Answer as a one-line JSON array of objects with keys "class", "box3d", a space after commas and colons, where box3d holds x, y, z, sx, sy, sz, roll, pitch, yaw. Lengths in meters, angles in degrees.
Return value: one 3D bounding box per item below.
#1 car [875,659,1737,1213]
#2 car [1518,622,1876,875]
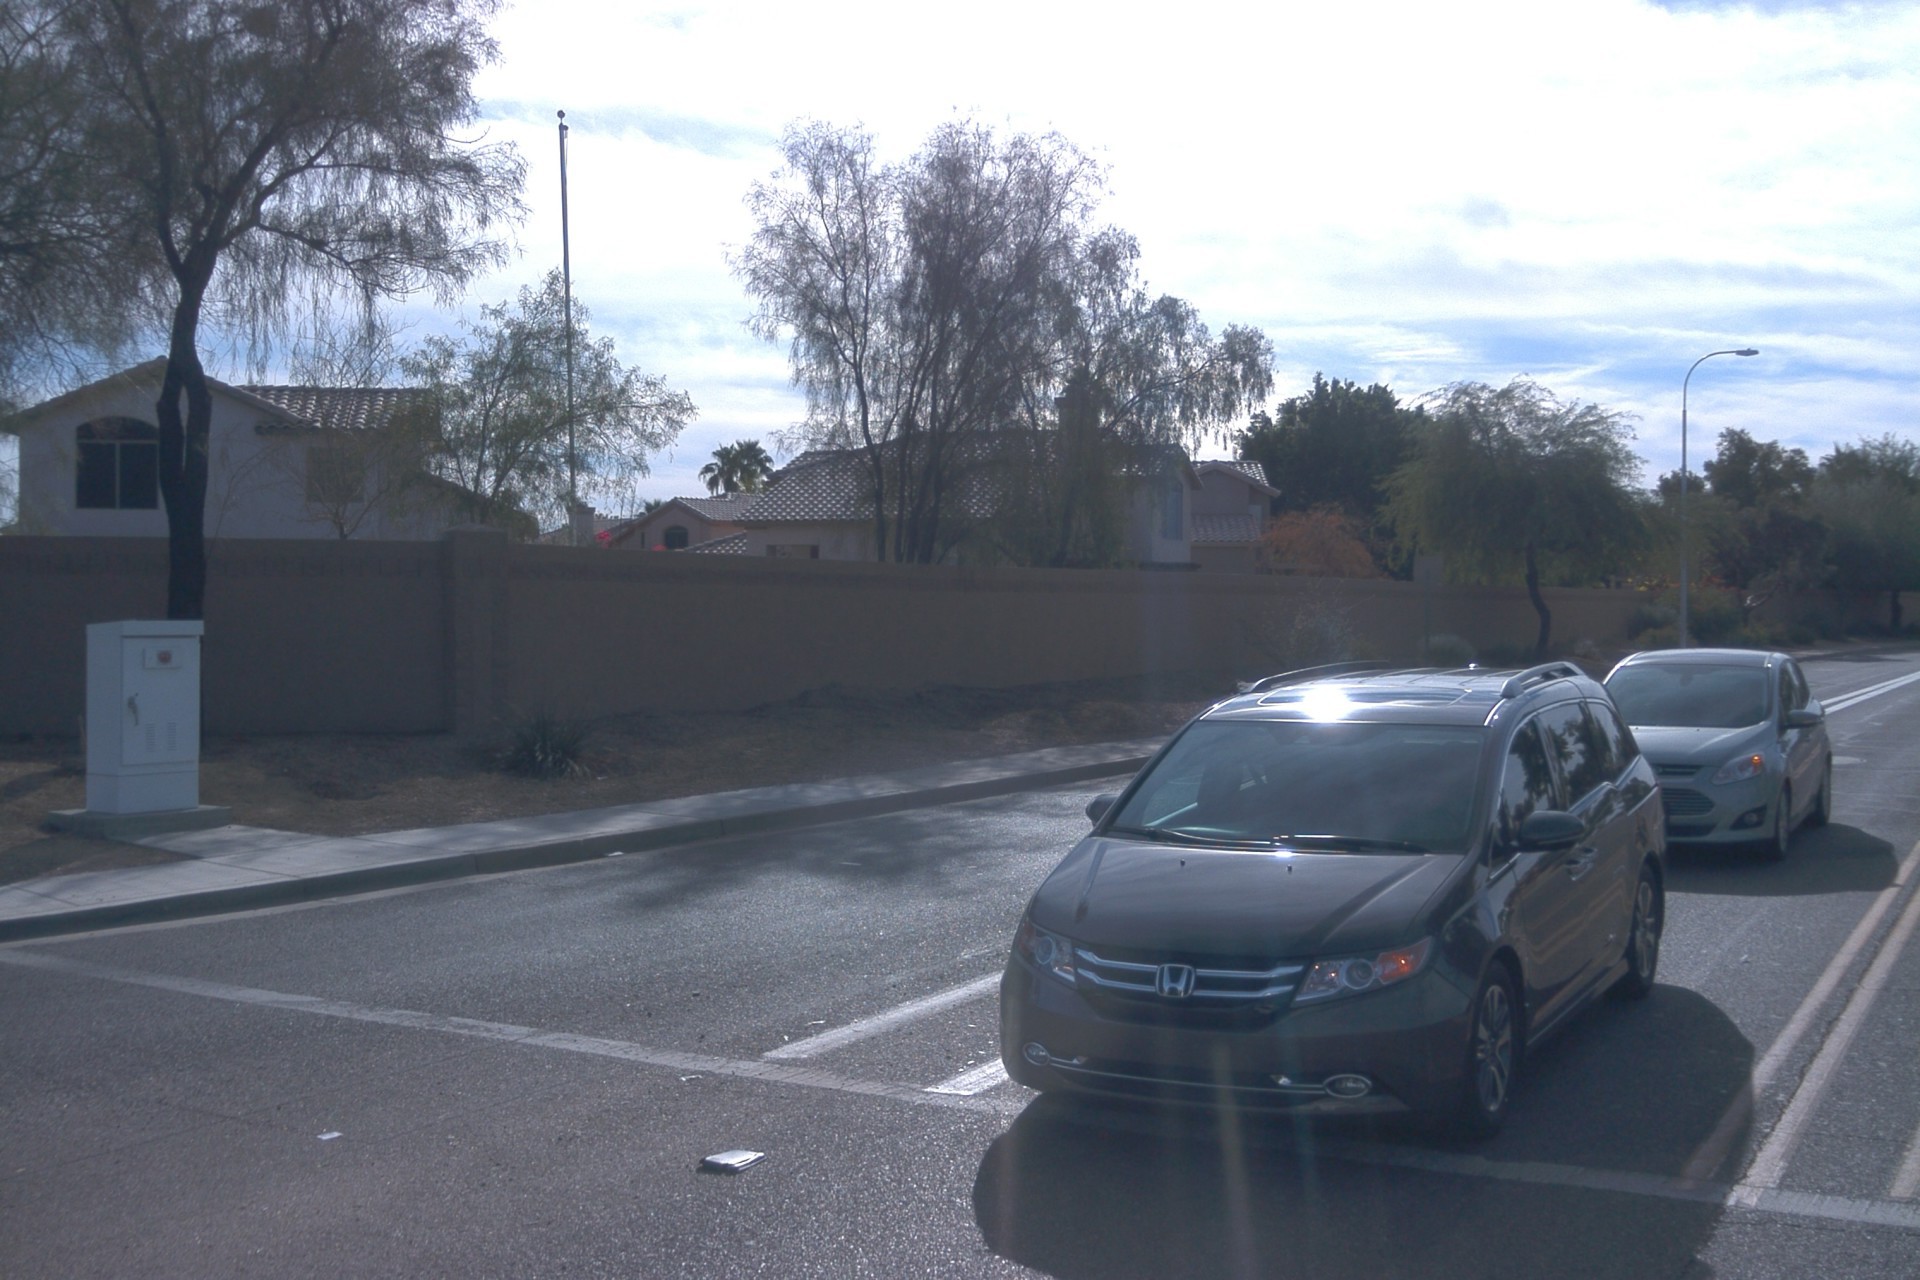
[{"class": "car", "box3d": [2.026, 1.037, 10.000, 2.364, 1.850, 5.347, 1, 0, 30]}, {"class": "car", "box3d": [6.332, 0.797, 17.534, 2.091, 1.830, 4.374, 1, 0, 30]}]
